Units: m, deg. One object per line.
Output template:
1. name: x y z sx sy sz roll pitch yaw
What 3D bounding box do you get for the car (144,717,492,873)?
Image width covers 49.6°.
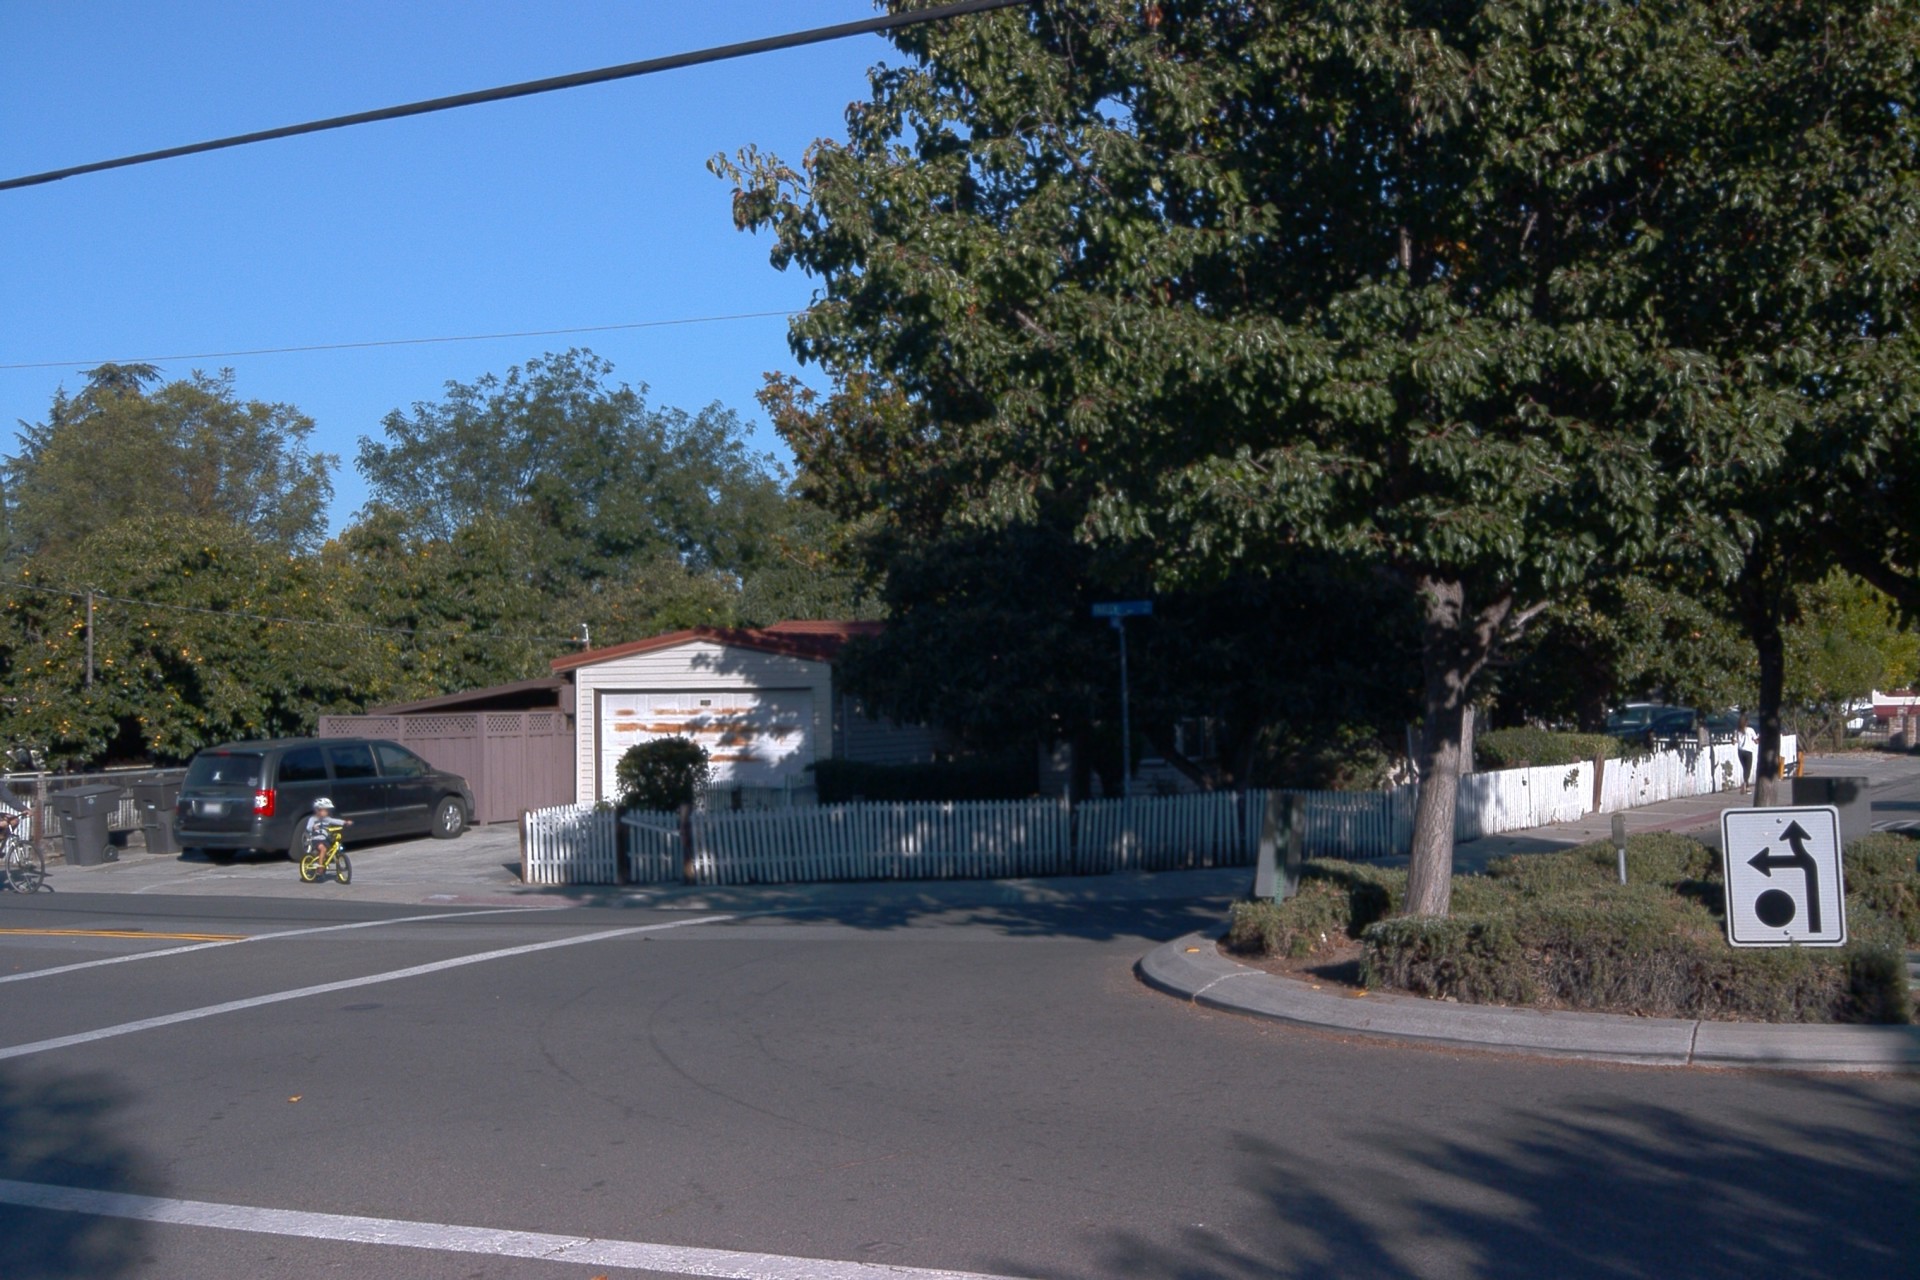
1. car: -9.483 2.223 31.185 2.140 1.930 4.988 1 0 25

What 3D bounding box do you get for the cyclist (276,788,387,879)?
1. cyclist: -8.079 2.471 26.689 1.326 1.030 0.694 1 0 37
